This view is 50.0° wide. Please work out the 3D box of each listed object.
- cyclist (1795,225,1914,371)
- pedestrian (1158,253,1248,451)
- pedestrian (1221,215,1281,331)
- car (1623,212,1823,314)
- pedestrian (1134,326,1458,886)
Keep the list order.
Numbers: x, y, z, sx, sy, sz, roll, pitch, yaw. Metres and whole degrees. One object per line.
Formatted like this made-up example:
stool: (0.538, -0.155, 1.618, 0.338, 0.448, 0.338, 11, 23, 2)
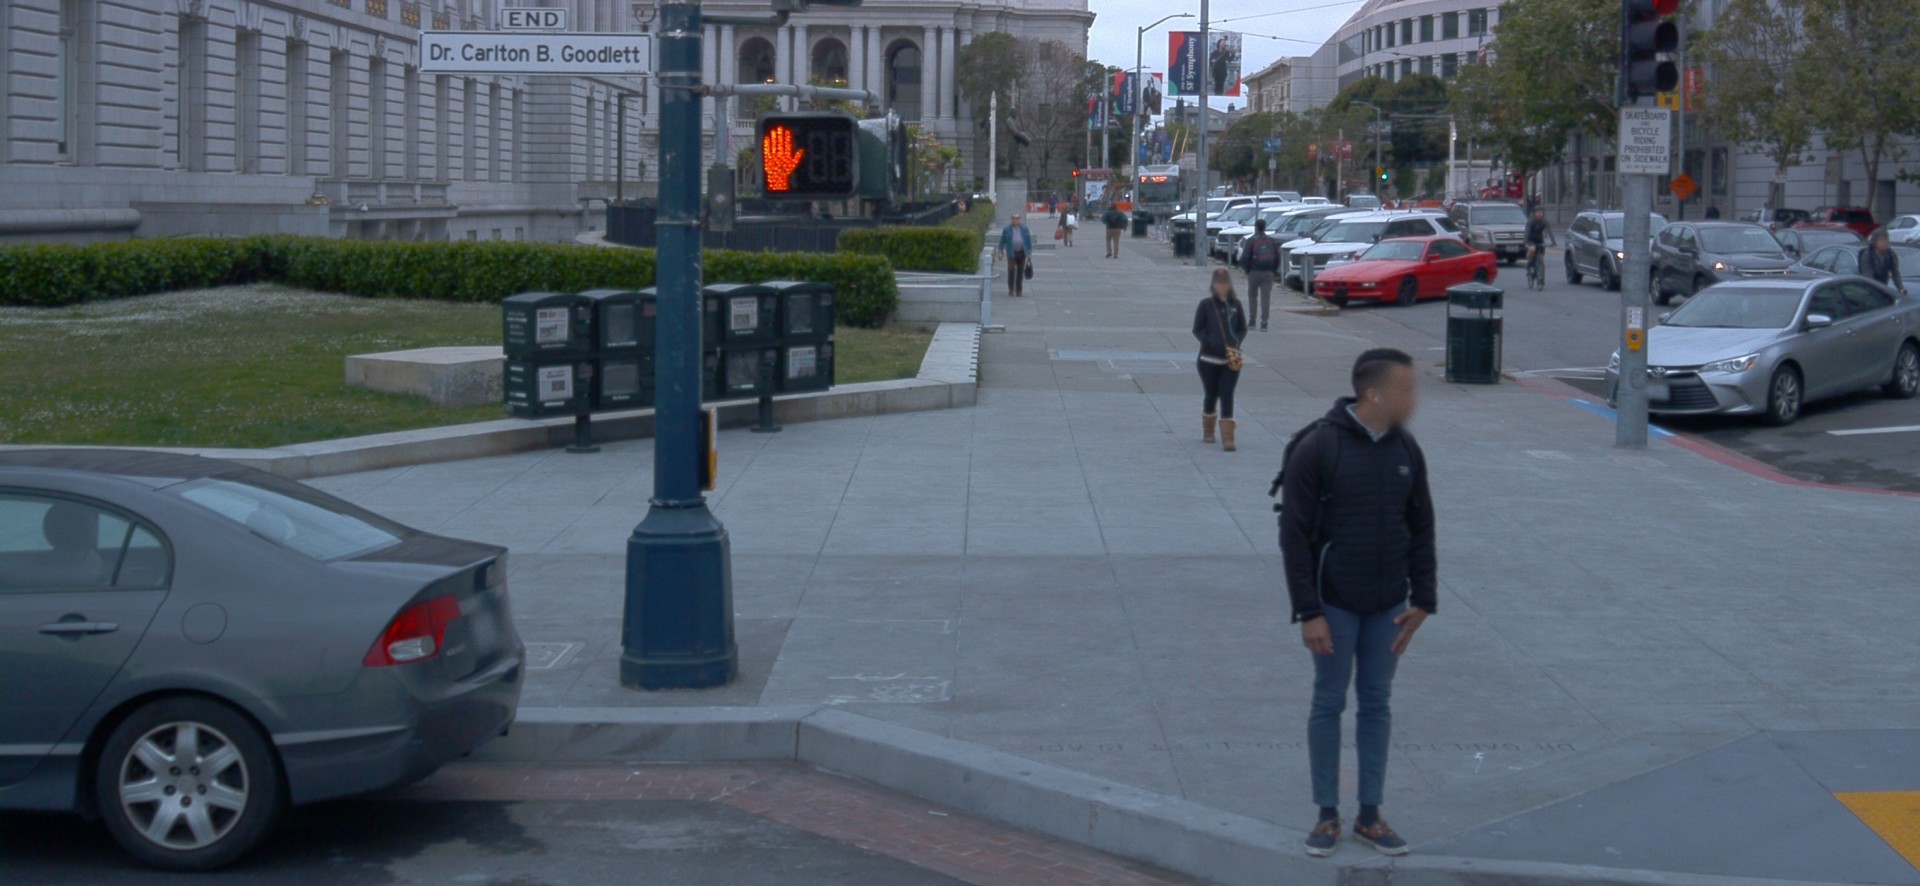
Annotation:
cyclist: (11.768, -1.944, 27.138, 0.743, 1.865, 1.862, 0, 4, 0)
pedestrian: (2.115, -0.815, 18.007, 0.668, 1.678, 0.873, 0, 2, -1)
pedestrian: (4.696, -2.761, 33.256, 0.801, 1.847, 0.879, 0, 2, -2)
car: (13.882, -3.340, 37.759, 2.094, 1.746, 4.686, 0, 5, 2)
pedestrian: (1.167, 0.508, 7.050, 0.832, 1.757, 0.936, 1, 2, 28)
